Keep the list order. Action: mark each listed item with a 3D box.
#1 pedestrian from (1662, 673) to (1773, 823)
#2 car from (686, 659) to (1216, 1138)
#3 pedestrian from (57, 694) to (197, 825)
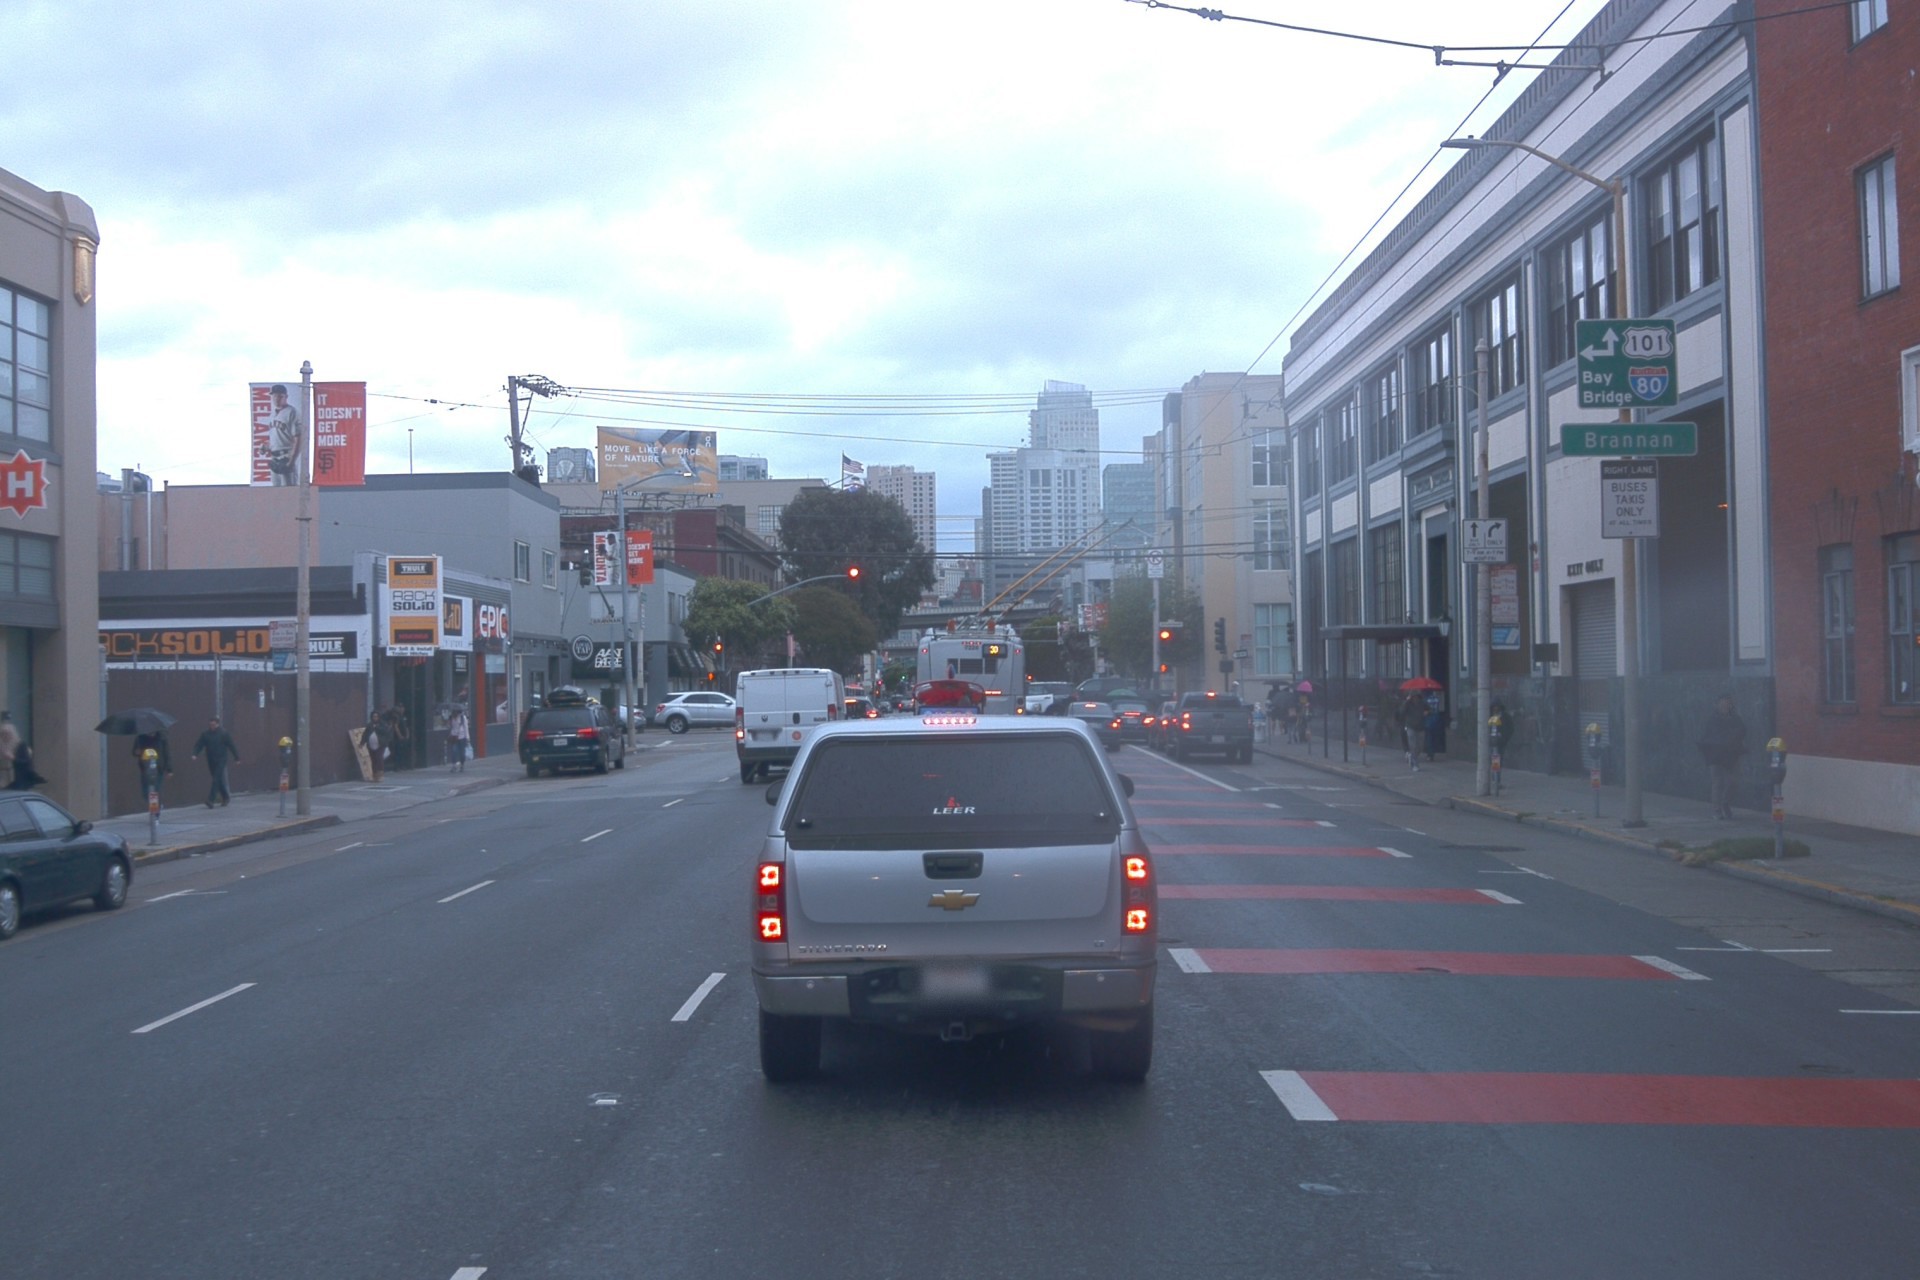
[{"bbox_3d":[10.260,1.437,28.156,1.012,1.970,1.529,0,-1,4],"label":"pedestrian"},{"bbox_3d":[-0.053,1.227,12.038,2.437,2.200,4.924,0,-1,0],"label":"car"},{"bbox_3d":[-12.782,1.819,31.873,1.514,1.950,1.493,0,-1,3],"label":"pedestrian"}]
